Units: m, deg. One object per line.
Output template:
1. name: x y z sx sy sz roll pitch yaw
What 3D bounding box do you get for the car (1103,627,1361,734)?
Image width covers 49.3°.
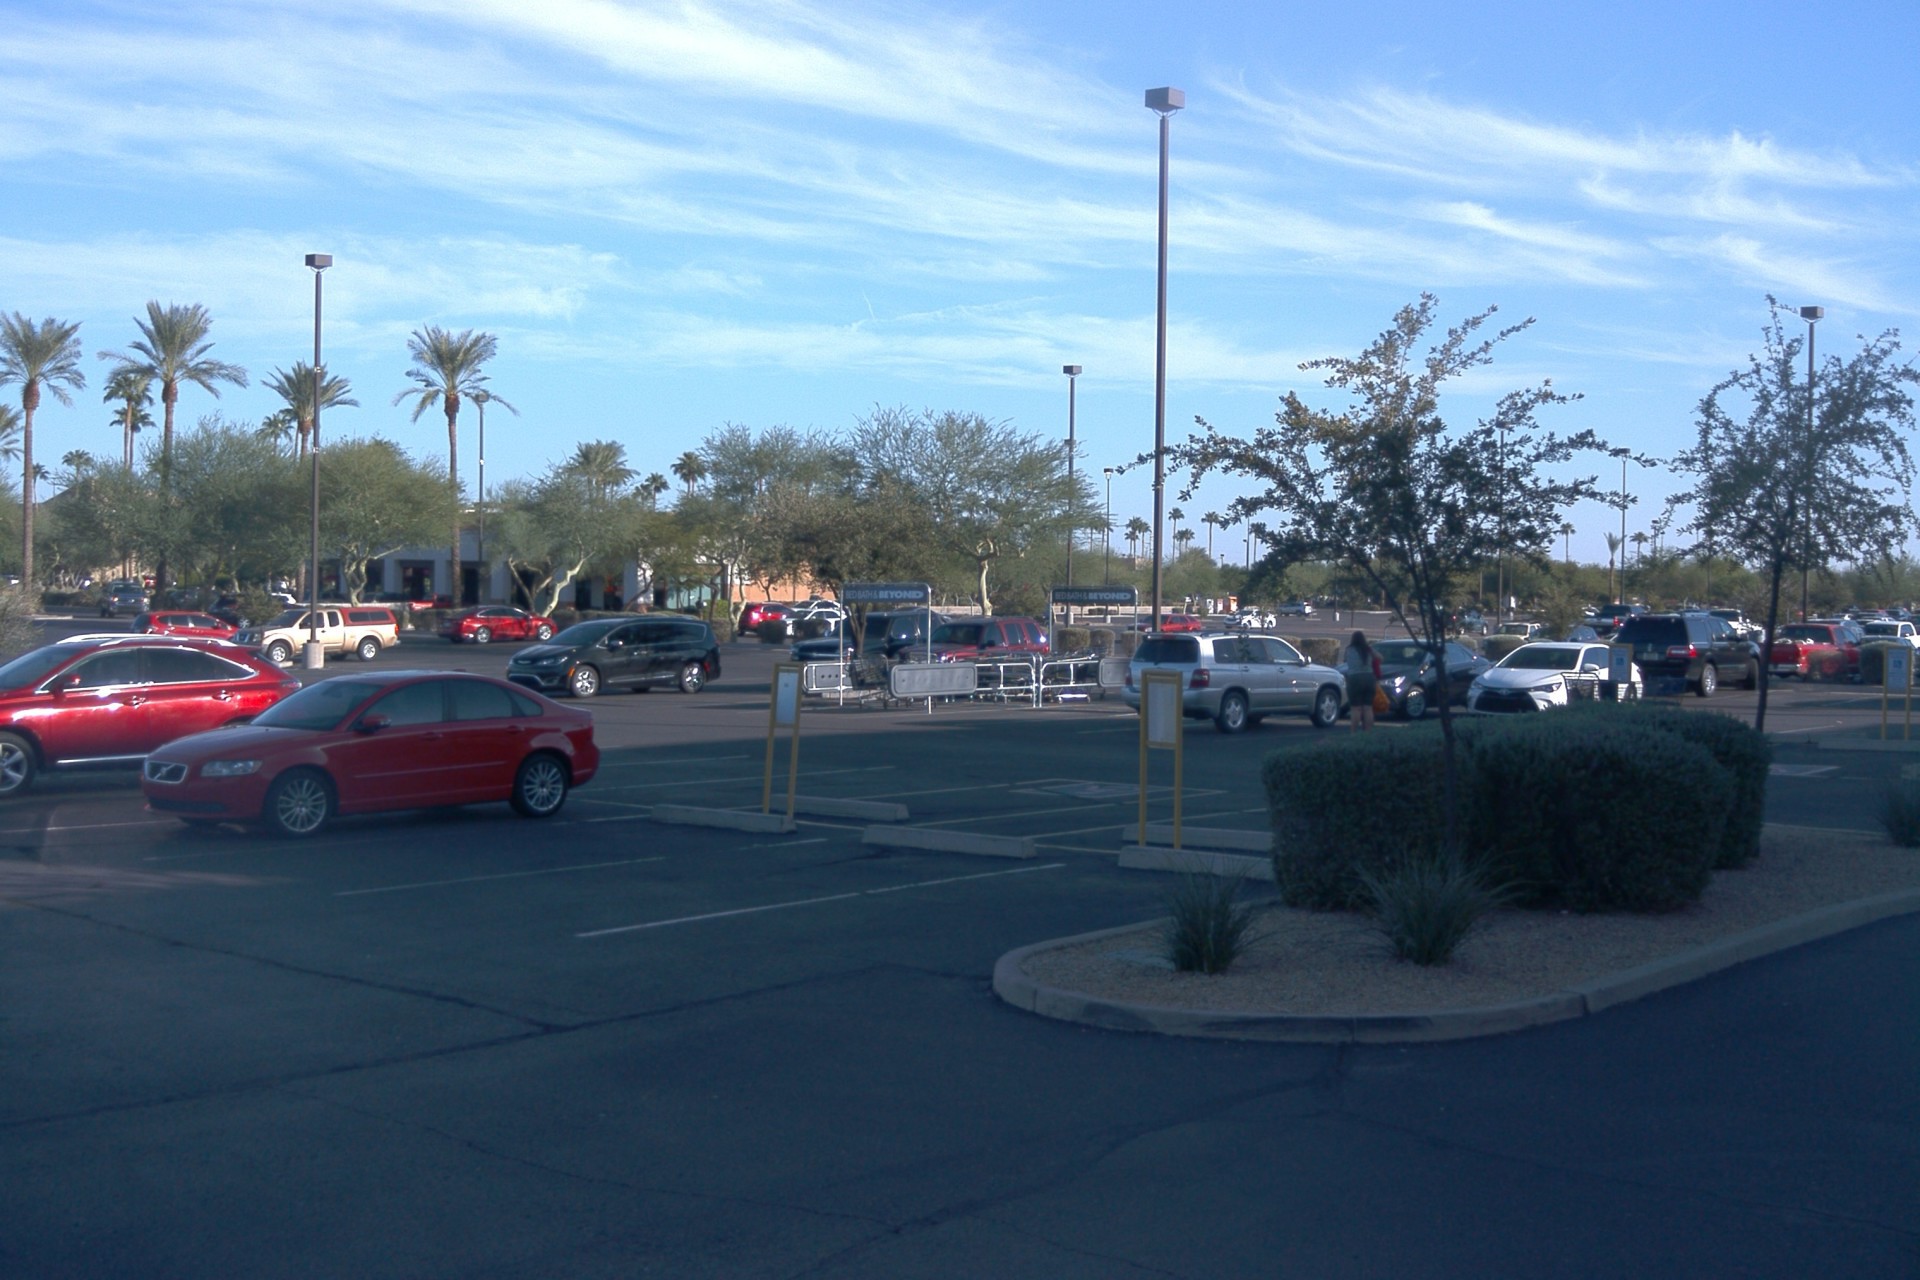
1. car: 4.780 0.649 36.341 2.028 1.750 4.670 0 0 45

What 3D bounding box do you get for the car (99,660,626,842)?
1. car: -5.578 0.960 20.023 2.004 1.470 4.510 0 0 39

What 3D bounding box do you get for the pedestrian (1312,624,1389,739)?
1. pedestrian: 6.218 0.647 33.290 0.909 1.790 0.804 0 0 -26
